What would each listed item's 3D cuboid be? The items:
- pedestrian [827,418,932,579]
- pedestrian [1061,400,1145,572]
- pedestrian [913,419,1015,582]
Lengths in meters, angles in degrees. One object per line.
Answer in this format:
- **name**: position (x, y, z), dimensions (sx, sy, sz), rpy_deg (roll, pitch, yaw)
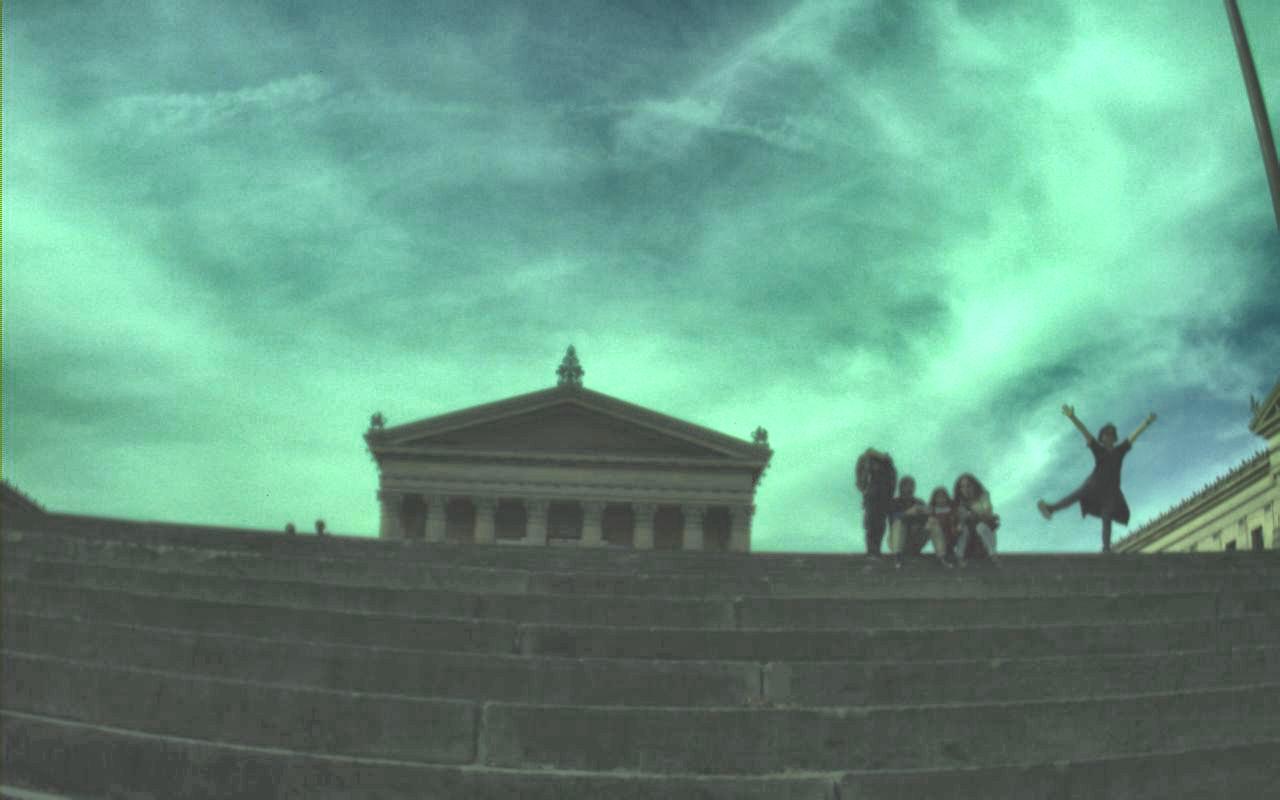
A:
- **pedestrian**: position (2.431, 0.983, 12.634), dimensions (0.742, 1.547, 0.750), rpy_deg (0, 0, -28)
- **pedestrian**: position (5.308, 0.983, 13.654), dimensions (0.690, 1.904, 0.676), rpy_deg (0, 0, -12)
- **pedestrian**: position (3.331, 1.018, 12.600), dimensions (0.693, 1.586, 0.754), rpy_deg (0, 0, -38)
